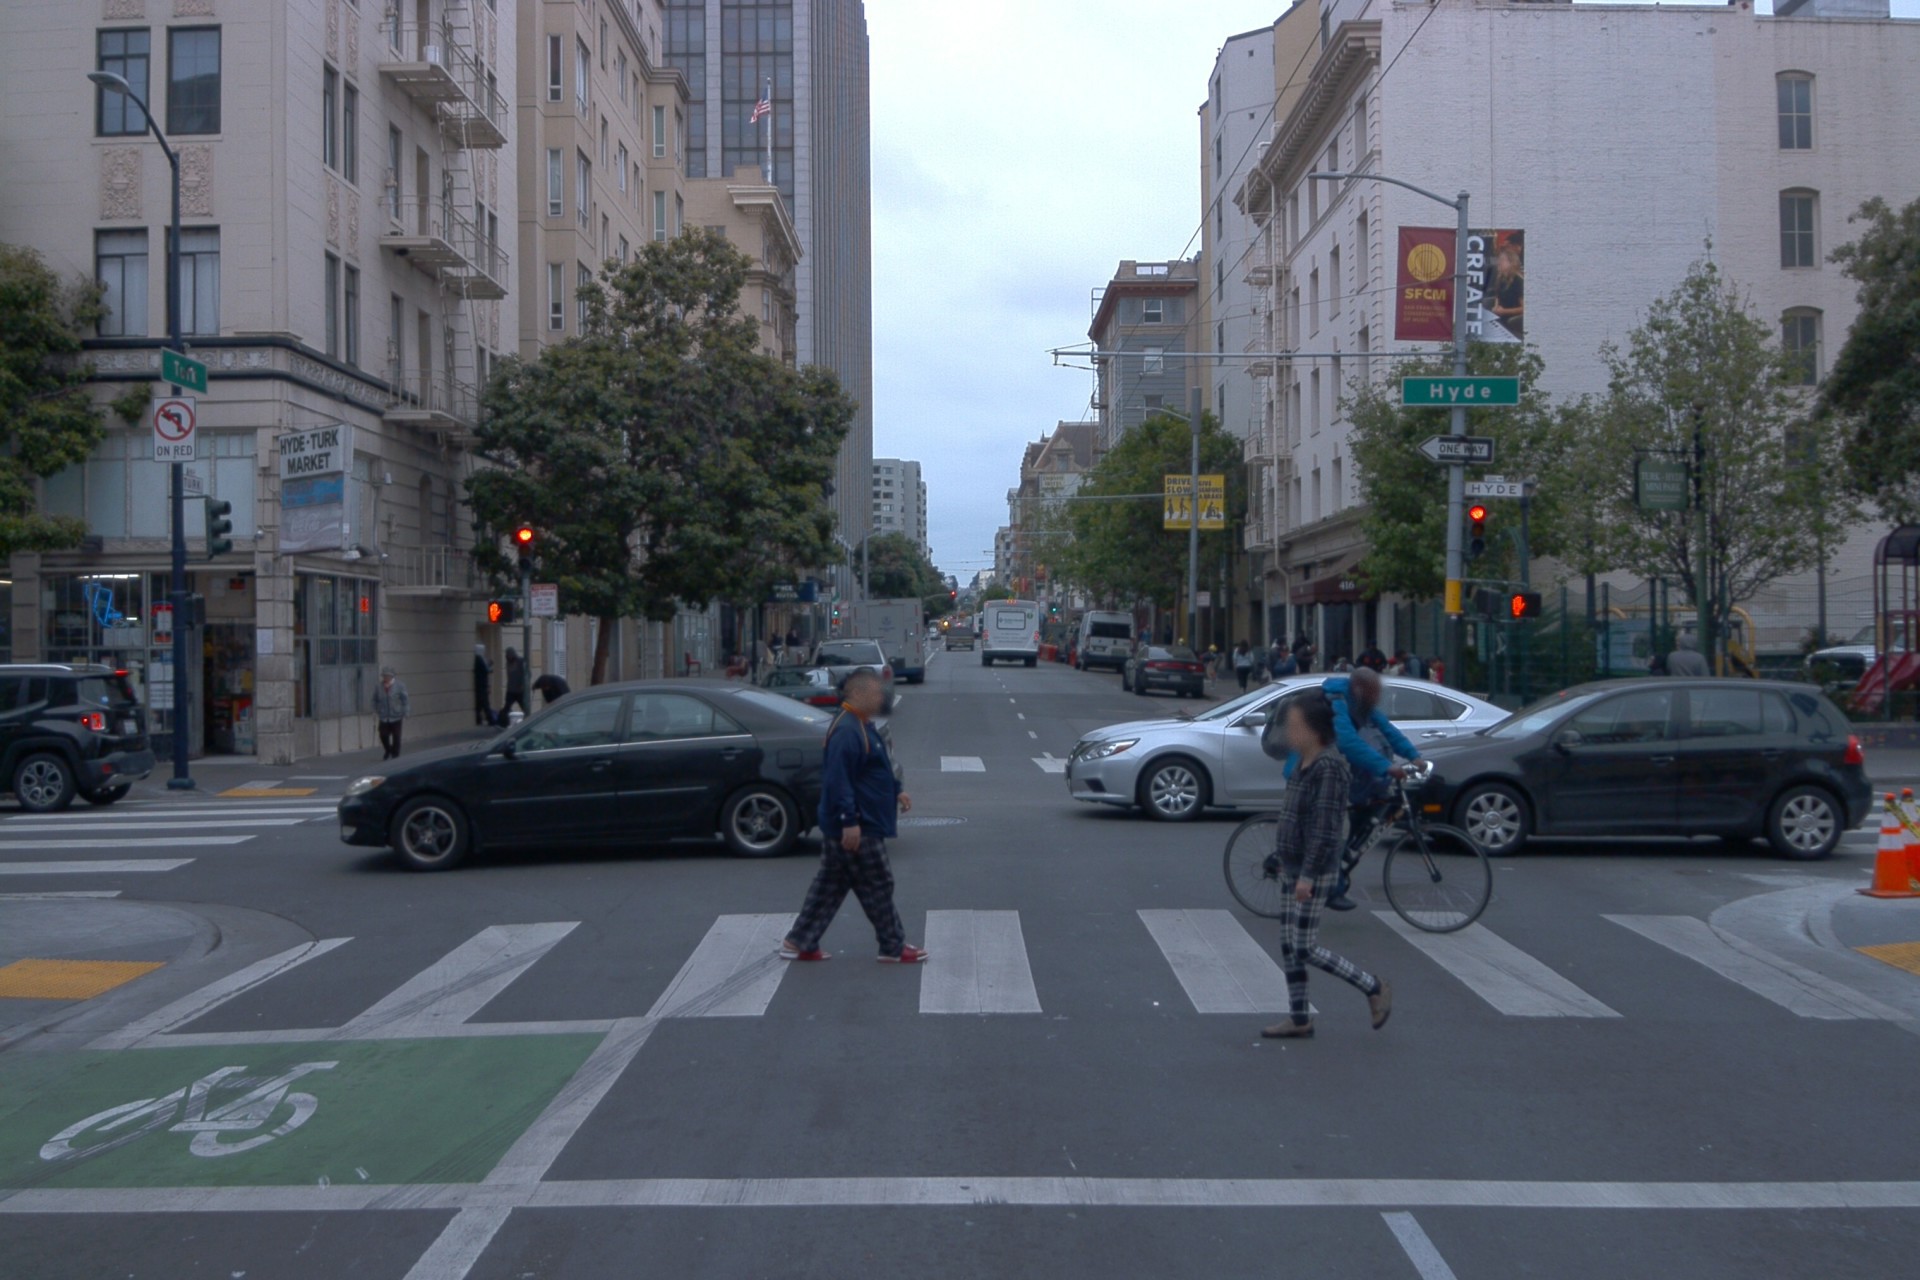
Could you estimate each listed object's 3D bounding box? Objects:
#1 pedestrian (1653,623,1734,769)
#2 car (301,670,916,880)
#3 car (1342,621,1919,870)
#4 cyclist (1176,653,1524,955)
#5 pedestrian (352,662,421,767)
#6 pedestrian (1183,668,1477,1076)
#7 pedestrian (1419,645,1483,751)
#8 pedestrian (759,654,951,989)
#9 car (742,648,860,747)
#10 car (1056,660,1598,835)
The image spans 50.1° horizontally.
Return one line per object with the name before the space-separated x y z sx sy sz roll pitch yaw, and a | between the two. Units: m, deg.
pedestrian | 10.318 0.769 28.925 0.836 2.010 0.794 1 1 41
car | -2.827 1.096 17.389 4.827 1.600 2.060 0 1 2
car | 5.479 0.832 17.227 4.214 1.950 1.862 0 1 1
cyclist | 2.465 0.972 12.974 1.969 1.750 1.003 0 1 25
pedestrian | -9.103 1.170 32.688 0.869 1.620 0.823 0 1 -1
pedestrian | 1.700 1.030 9.608 1.093 1.760 0.987 0 1 -8
pedestrian | 7.727 0.906 32.392 0.906 1.620 0.868 0 1 9
pedestrian | -0.590 0.992 11.663 1.035 1.800 0.907 0 1 -2
car | -2.873 1.013 37.863 1.721 1.630 3.892 0 1 2
car | 3.464 1.013 20.165 4.932 1.550 2.047 0 1 0
